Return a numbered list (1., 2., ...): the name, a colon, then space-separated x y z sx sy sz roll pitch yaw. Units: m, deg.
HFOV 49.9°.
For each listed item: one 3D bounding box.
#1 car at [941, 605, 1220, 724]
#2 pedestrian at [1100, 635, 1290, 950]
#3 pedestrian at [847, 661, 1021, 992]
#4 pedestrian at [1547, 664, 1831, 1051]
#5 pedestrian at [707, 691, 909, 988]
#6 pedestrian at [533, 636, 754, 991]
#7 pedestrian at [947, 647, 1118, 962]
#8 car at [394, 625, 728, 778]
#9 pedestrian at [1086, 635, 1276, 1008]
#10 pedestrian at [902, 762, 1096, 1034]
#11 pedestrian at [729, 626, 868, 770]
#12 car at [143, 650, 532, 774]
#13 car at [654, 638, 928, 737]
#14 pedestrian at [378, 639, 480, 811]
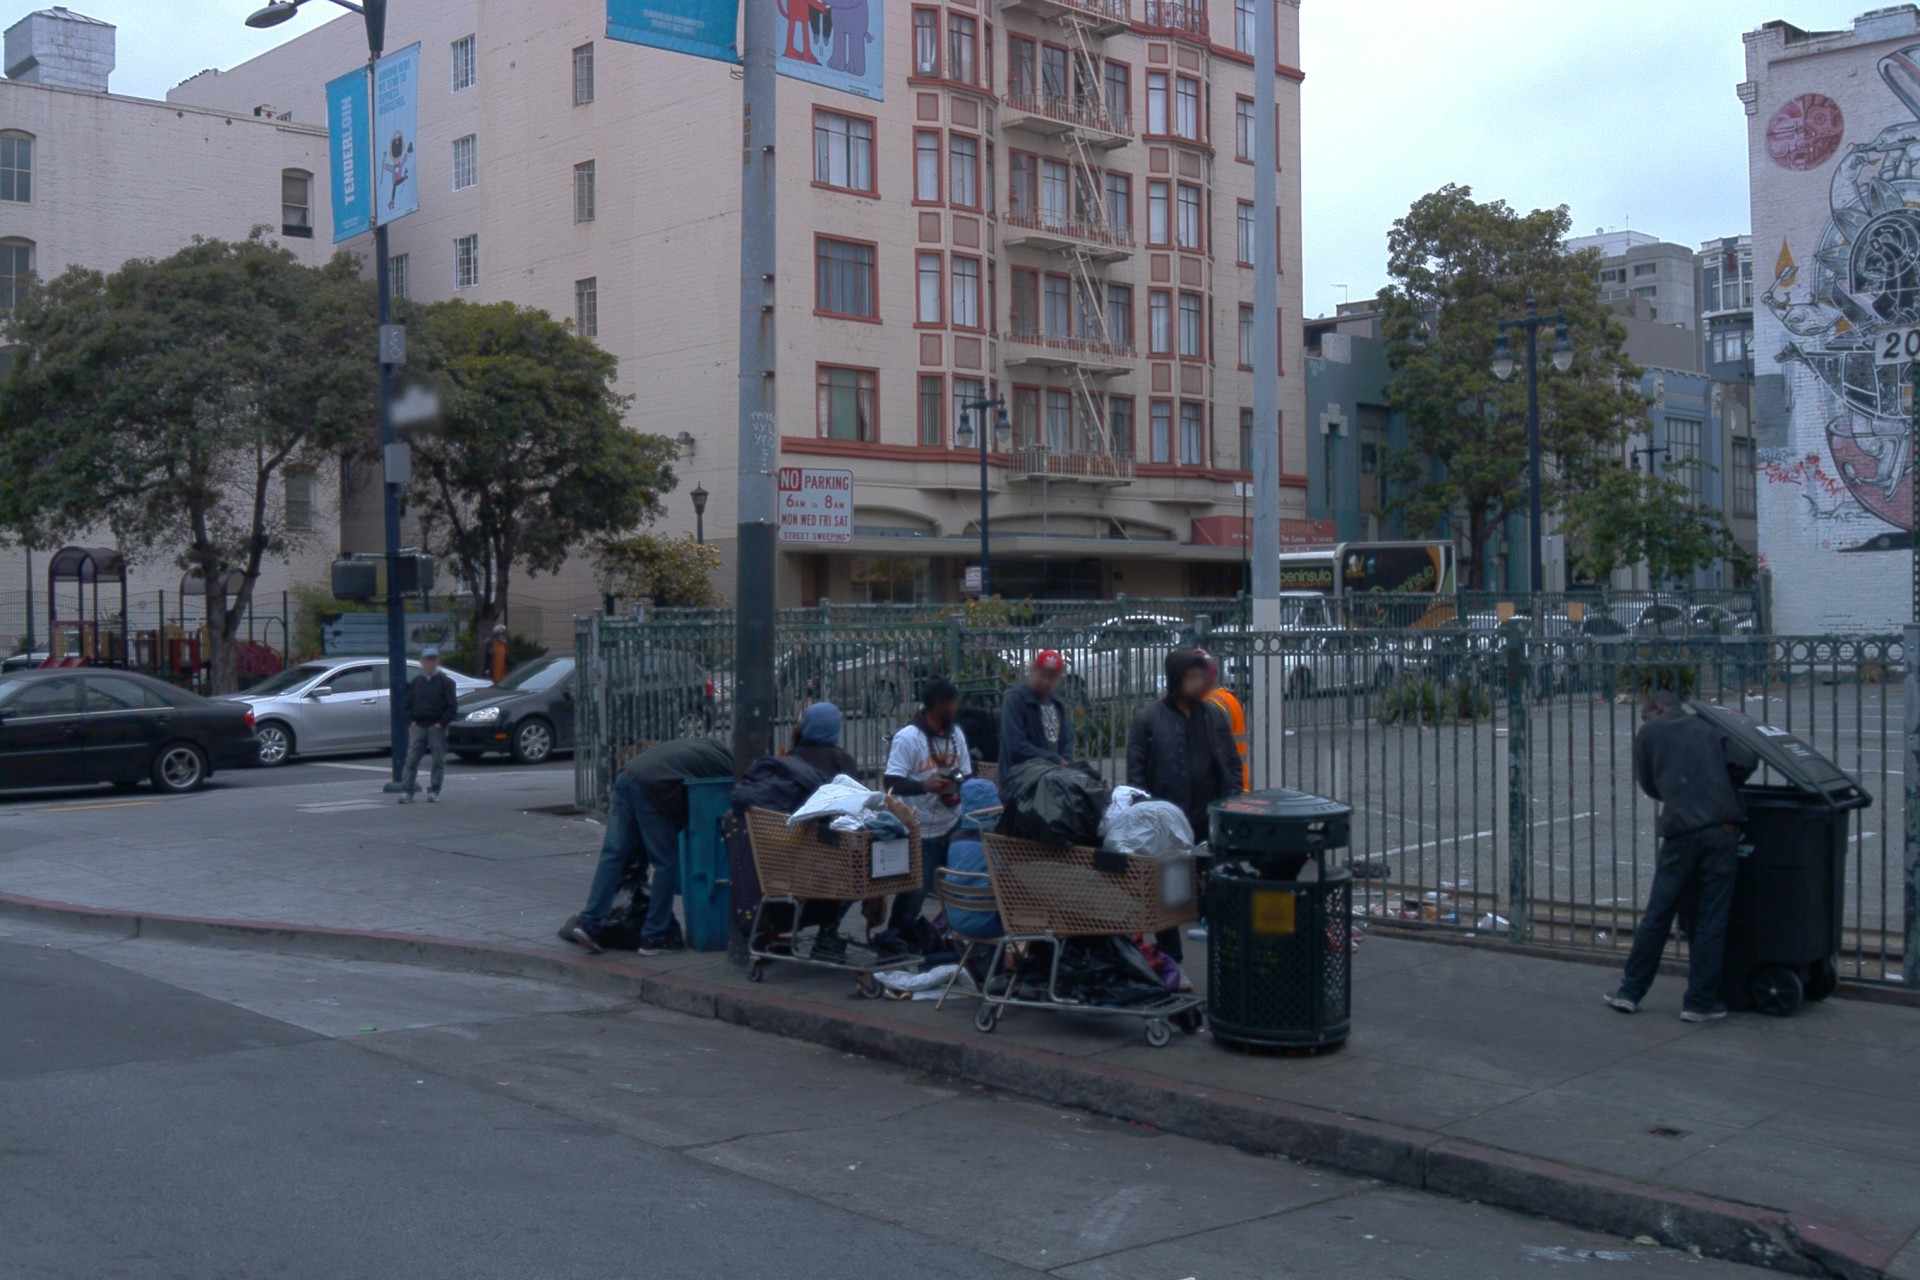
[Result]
1. car: 2.149 0.369 35.879 4.775 1.930 2.184 -1 1 -44
2. pedestrian: 1.460 0.886 12.715 0.833 1.830 1.103 0 1 27
3. pedestrian: -0.160 1.016 11.689 0.827 1.770 0.889 0 1 -11
4. pedestrian: 3.632 1.024 10.308 1.093 1.780 0.836 1 1 43
5. pedestrian: -0.921 1.159 12.434 0.728 1.660 1.024 -1 1 -43
6. pedestrian: -1.907 0.994 12.440 1.056 2.020 0.835 0 1 -33
7. pedestrian: 0.445 0.962 12.593 0.725 1.830 0.781 0 1 37
8. car: -5.452 0.773 28.571 4.185 1.950 1.875 -1 1 -44
9. pedestrian: 1.165 0.931 11.013 0.851 1.910 0.746 0 1 -7
10. pedestrian: 0.201 1.305 10.712 0.708 1.280 0.713 -1 1 -43
11. pedestrian: -2.006 0.689 25.679 1.115 1.720 1.309 1 1 43
12. car: -8.782 0.957 29.425 4.899 1.550 2.061 -1 1 -44
13. car: -2.835 0.762 35.380 4.454 1.540 1.957 -1 1 -45
14. pedestrian: -5.292 0.833 20.615 0.777 1.670 0.797 0 1 4
